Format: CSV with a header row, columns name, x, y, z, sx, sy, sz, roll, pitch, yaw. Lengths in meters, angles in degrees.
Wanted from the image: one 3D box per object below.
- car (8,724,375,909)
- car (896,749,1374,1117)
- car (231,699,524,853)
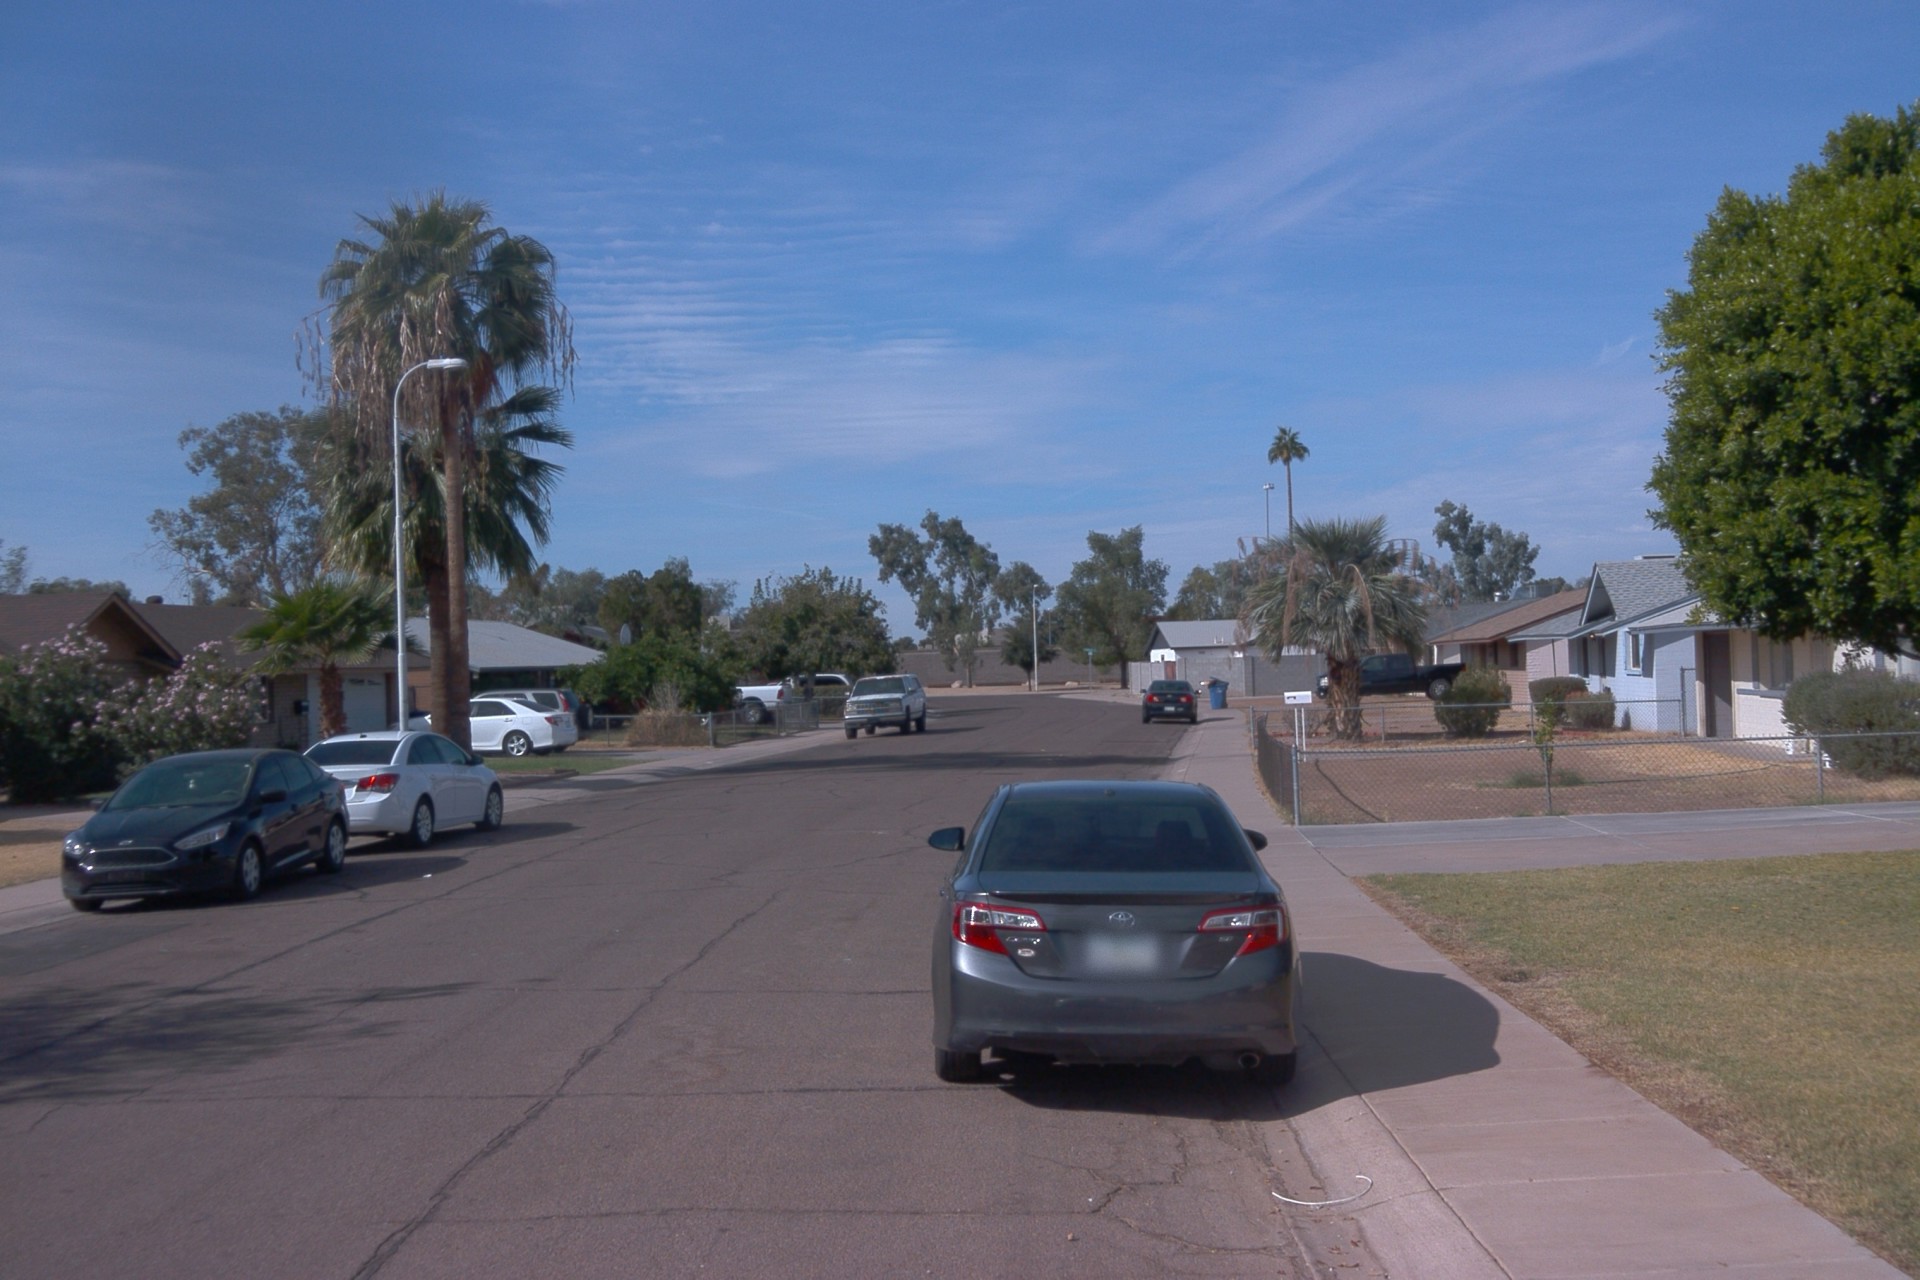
name,x,y,z,sx,sy,sz,roll,pitch,yaw
car,-7.778,1.729,21.563,2.055,1.610,4.523,0,-1,1
car,0.812,1.454,11.883,2.150,1.470,5.012,0,-1,1
car,-7.469,1.693,27.170,2.079,1.770,4.631,0,-1,7
